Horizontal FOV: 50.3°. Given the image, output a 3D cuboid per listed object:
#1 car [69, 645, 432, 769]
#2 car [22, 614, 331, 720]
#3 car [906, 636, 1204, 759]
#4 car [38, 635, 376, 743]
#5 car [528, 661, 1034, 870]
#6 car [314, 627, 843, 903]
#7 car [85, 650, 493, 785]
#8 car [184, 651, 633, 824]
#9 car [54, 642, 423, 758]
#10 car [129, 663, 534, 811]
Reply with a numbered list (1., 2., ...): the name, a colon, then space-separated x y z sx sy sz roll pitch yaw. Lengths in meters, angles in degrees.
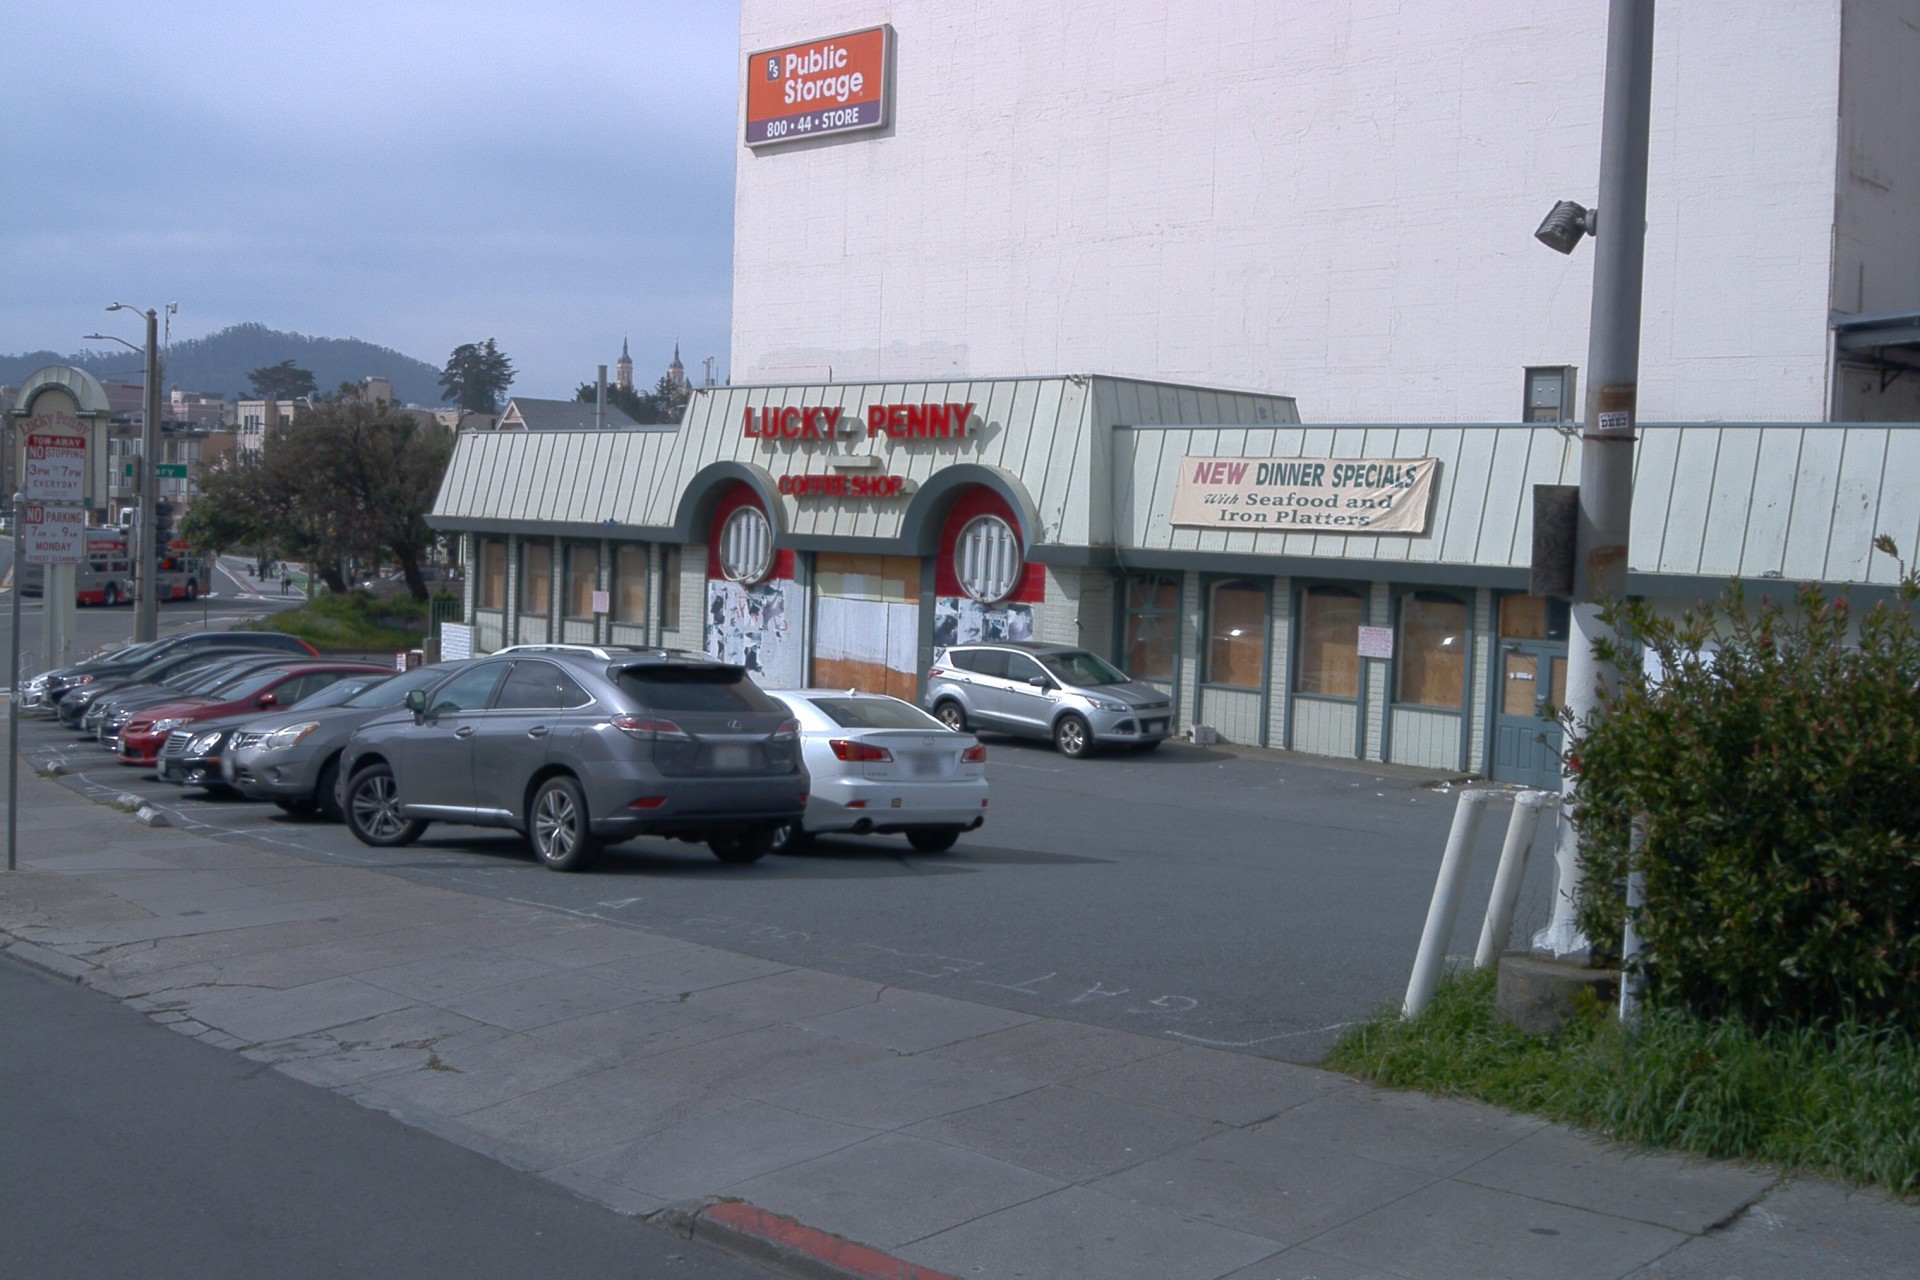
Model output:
1. car: -9.834 0.872 28.538 4.343 1.580 1.994 0 0 -43
2. car: -13.536 0.440 35.483 4.561 1.710 2.059 0 0 -43
3. car: 1.452 0.852 32.780 2.134 1.790 4.557 0 0 -43
4. car: -12.170 0.746 33.247 4.651 1.610 2.192 0 0 -43
5. car: -1.764 1.025 18.773 2.088 1.580 4.738 0 0 -44
6. car: -3.228 0.871 16.690 2.065 1.920 4.493 0 0 -45
7. car: -8.533 0.922 26.236 4.484 1.550 2.134 0 0 -43
8. car: -5.623 0.919 21.150 1.975 1.570 4.019 1 0 45
9. car: -10.831 0.849 30.919 4.736 1.590 2.241 0 0 -43
10. car: -7.159 1.041 23.542 4.029 1.500 1.869 0 0 -44
